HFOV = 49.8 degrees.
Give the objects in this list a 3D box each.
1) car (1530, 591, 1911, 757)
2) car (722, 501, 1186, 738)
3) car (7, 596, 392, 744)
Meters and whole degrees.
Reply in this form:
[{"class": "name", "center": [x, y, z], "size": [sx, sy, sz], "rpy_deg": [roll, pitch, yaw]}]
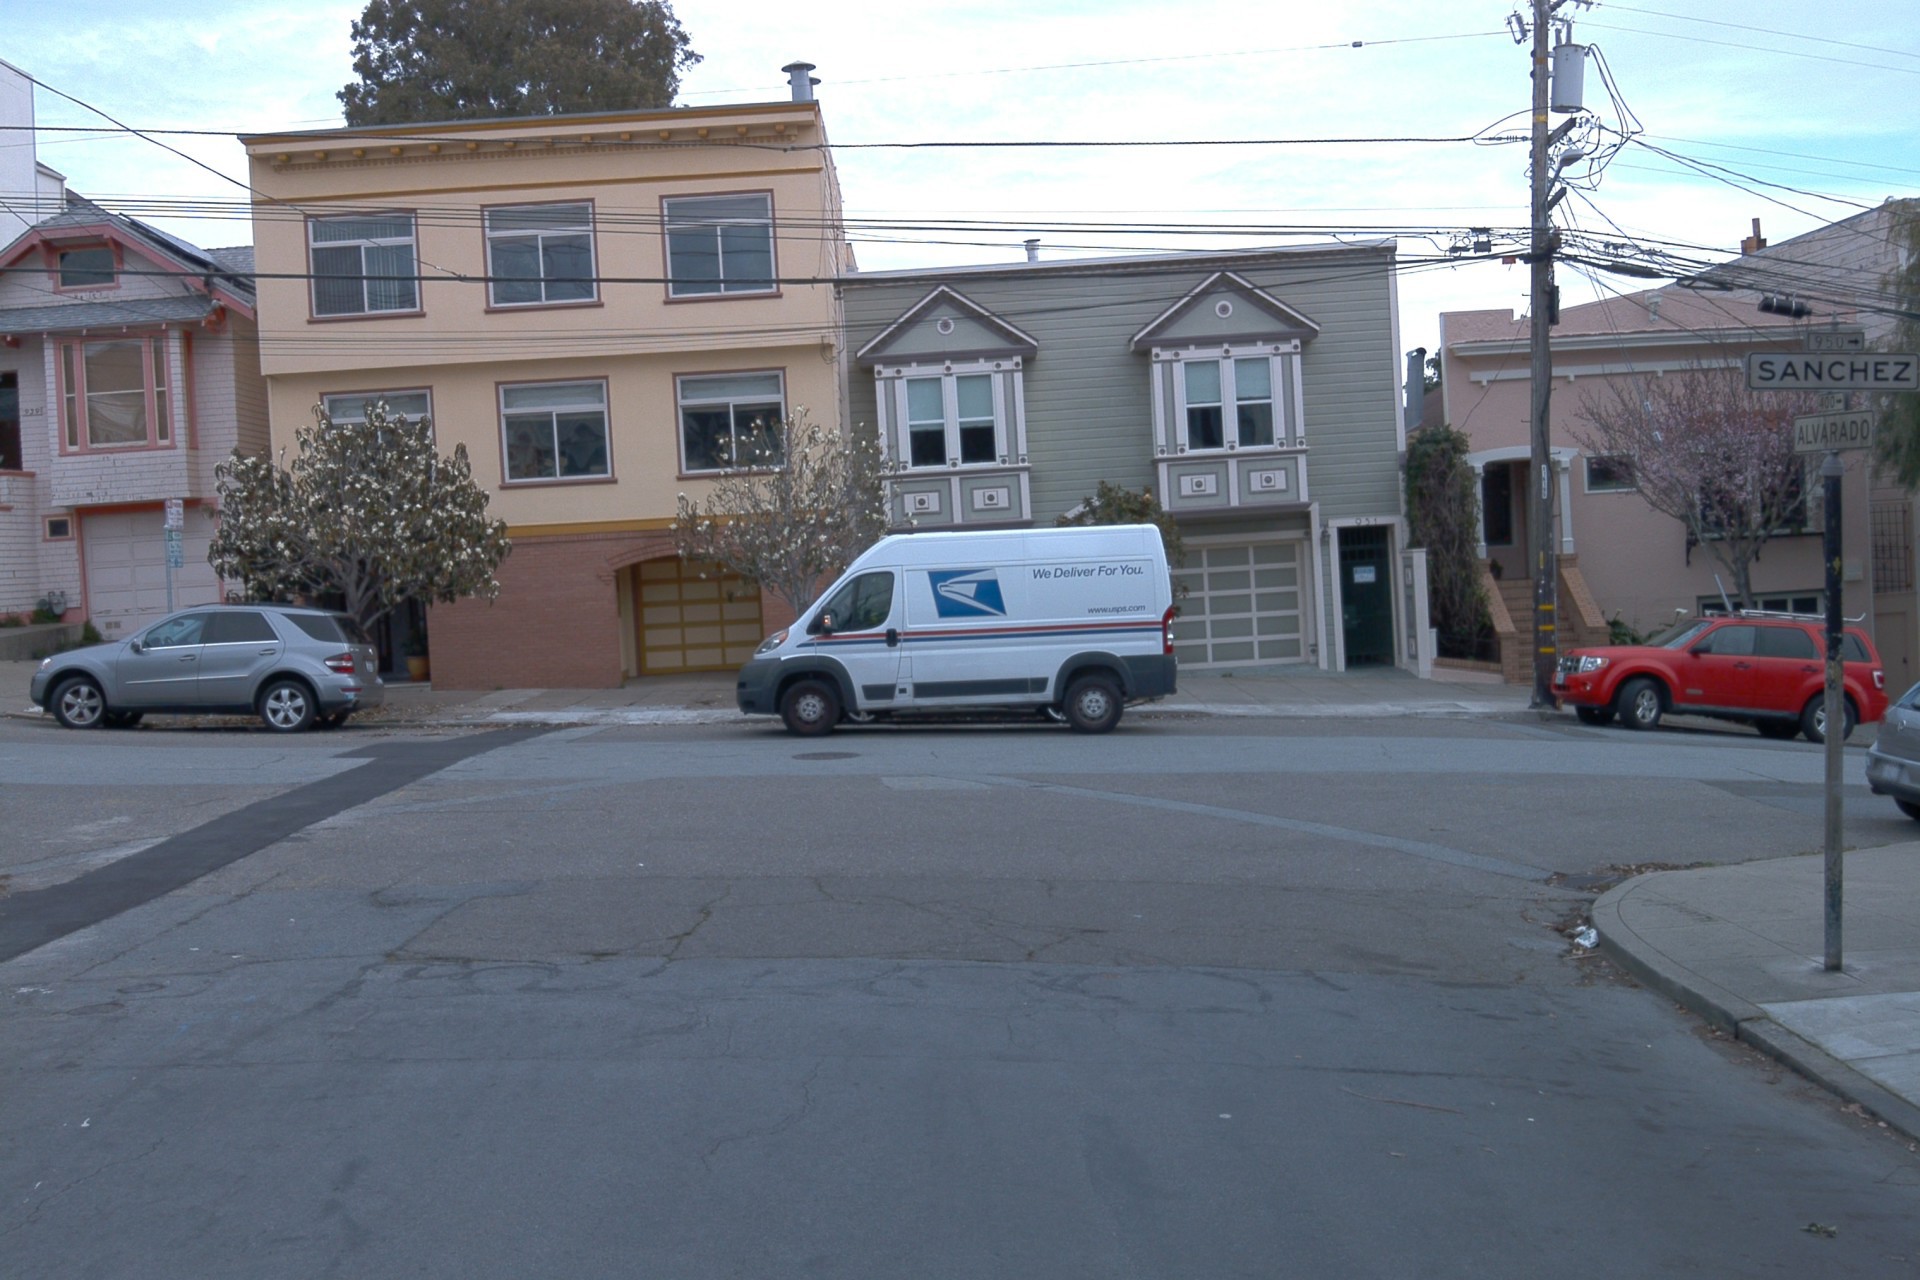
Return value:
[{"class": "car", "center": [10.466, 0.444, 28.691], "size": [4.468, 2.180, 2.101], "rpy_deg": [1, 1, -2]}, {"class": "car", "center": [-0.066, -0.262, 25.844], "size": [5.506, 2.780, 2.427], "rpy_deg": [1, 1, 1]}, {"class": "car", "center": [-10.363, 0.385, 28.411], "size": [4.575, 1.930, 1.947], "rpy_deg": [1, 1, 1]}]
